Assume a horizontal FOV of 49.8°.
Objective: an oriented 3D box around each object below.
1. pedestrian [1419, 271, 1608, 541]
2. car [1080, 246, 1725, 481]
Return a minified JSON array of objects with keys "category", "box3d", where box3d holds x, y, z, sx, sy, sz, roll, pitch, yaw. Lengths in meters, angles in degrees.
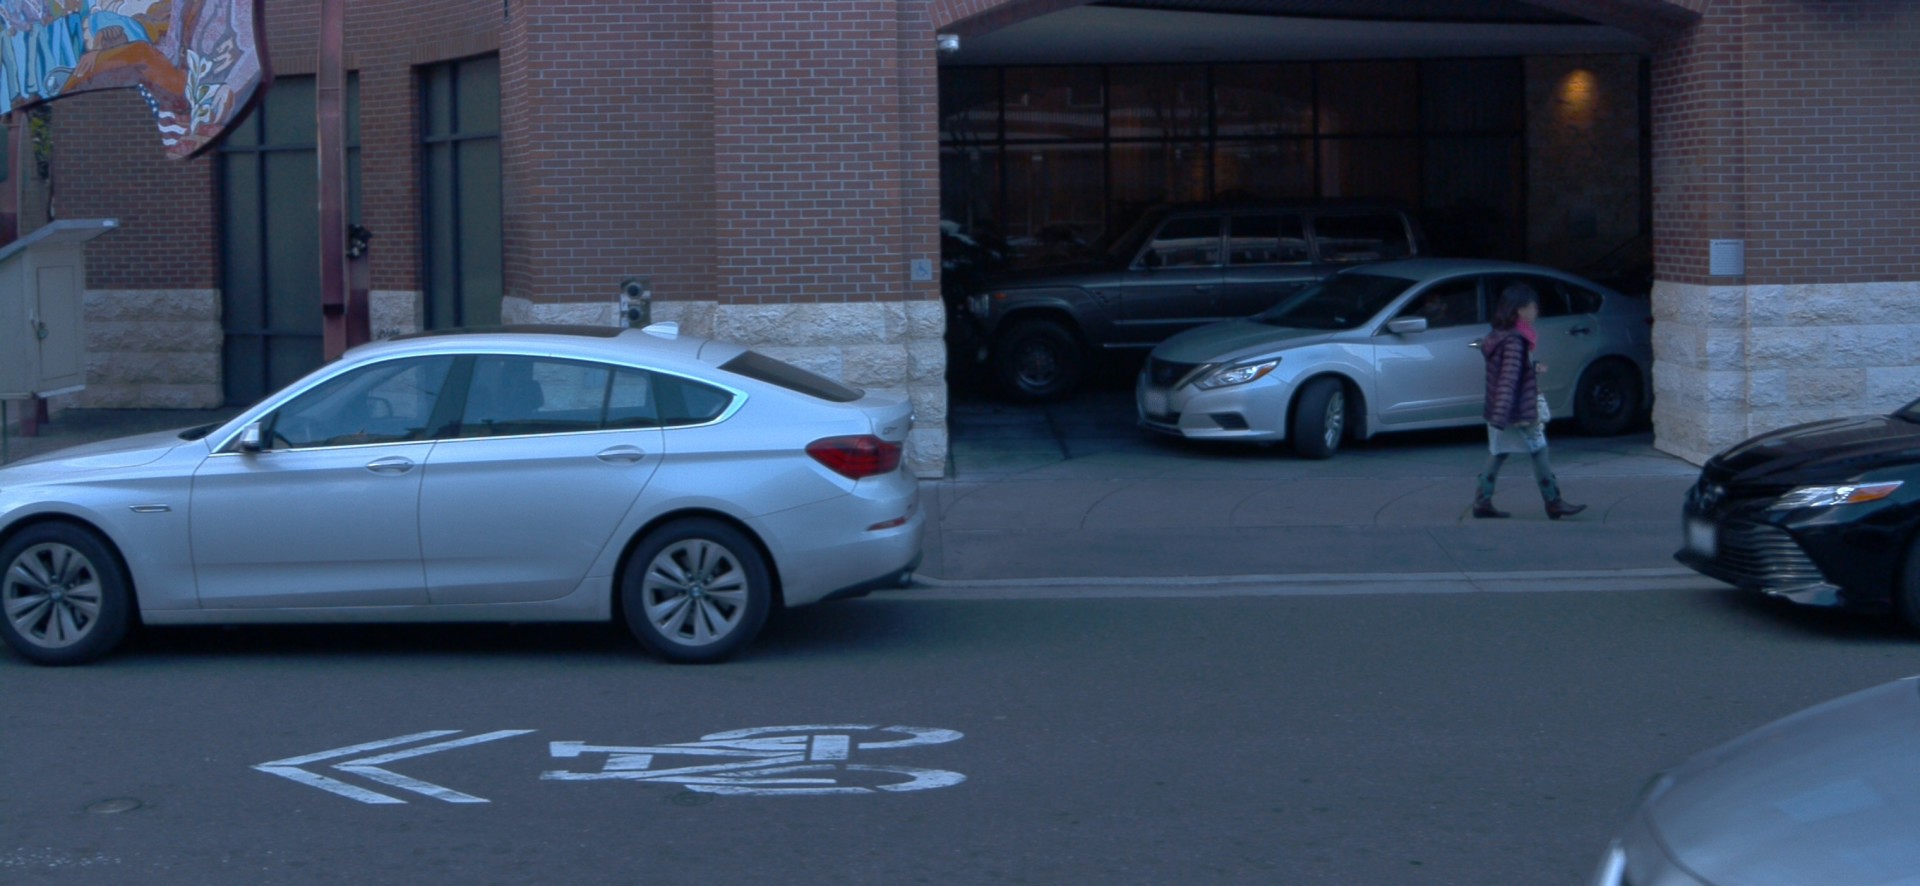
[{"category":"pedestrian","box3d":[3.419,-0.261,12.858,0.931,1.581,0.962,0,3,2]},{"category":"car","box3d":[3.638,-0.761,16.927,4.886,1.594,2.071,-3,5,-24]}]
